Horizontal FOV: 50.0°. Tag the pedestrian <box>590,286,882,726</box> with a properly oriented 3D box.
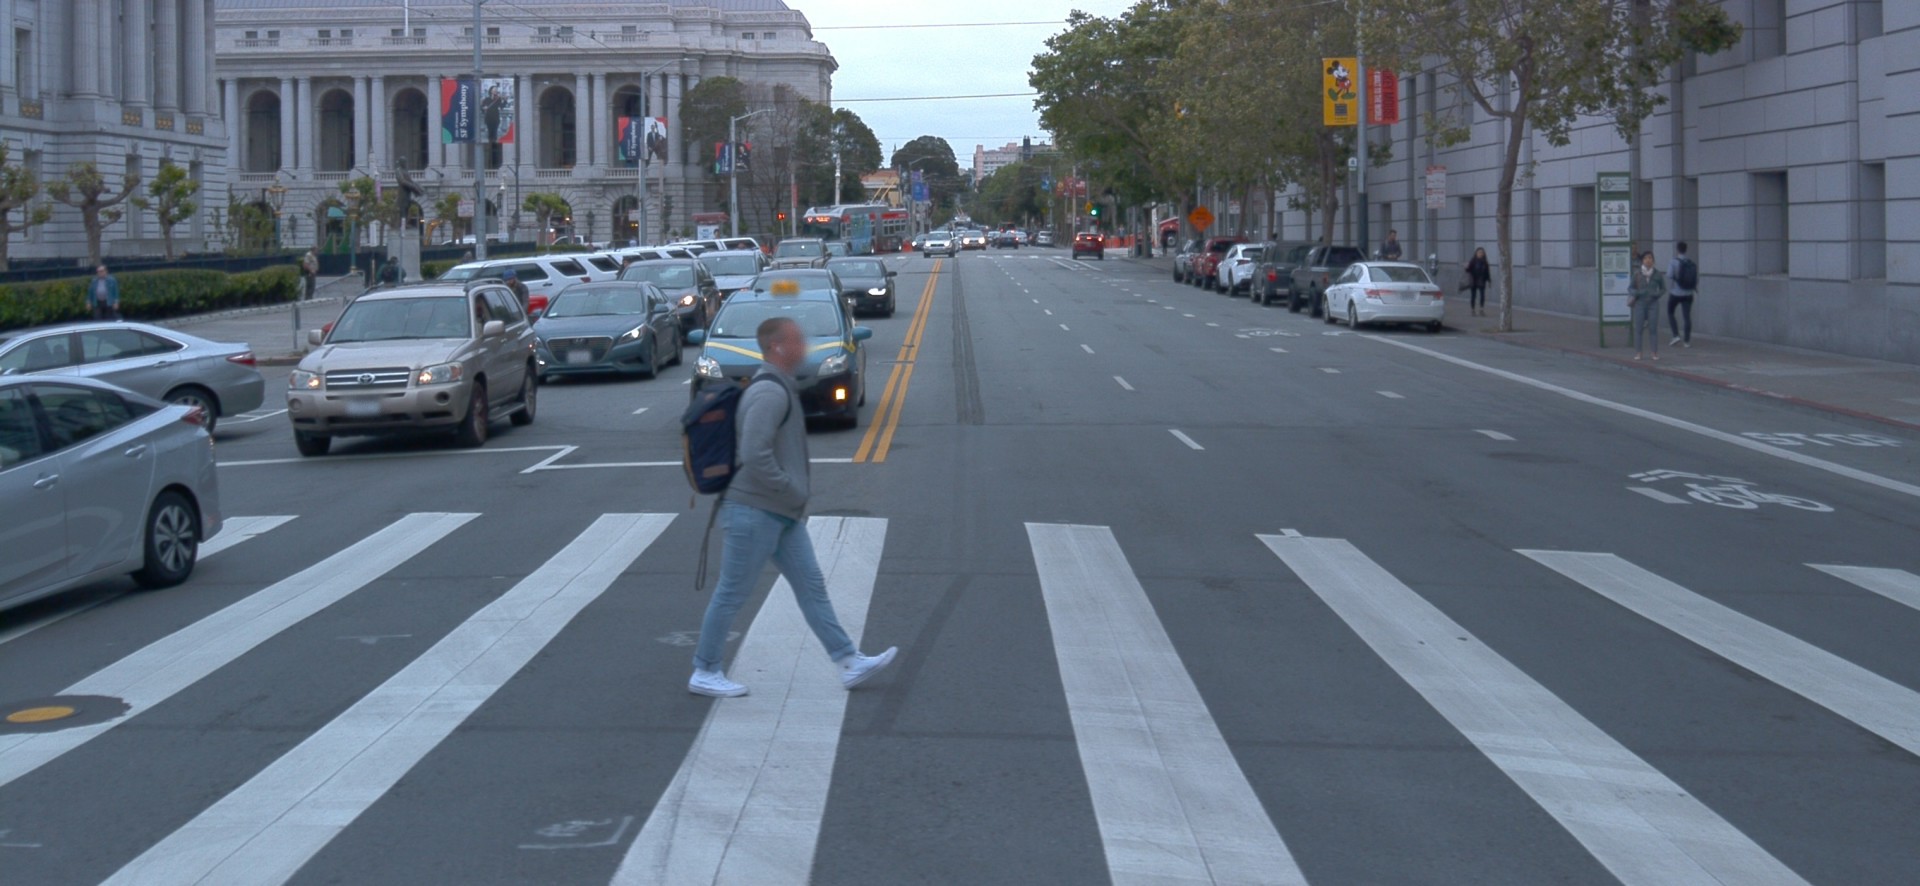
[{"bbox_3d":[-0.979,0.236,9.229,1.153,1.847,0.813,0,2,6],"label":"pedestrian"}]

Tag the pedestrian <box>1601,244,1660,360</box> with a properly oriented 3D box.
[{"bbox_3d":[10.491,-2.219,32.173,0.850,1.788,0.790,1,2,20],"label":"pedestrian"}]

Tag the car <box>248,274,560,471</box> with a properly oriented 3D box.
[{"bbox_3d":[-5.879,-0.882,22.443,2.165,1.792,4.824,0,5,-1],"label":"car"}]

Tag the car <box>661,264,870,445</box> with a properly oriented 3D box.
[{"bbox_3d":[-2.092,-1.102,23.363,2.026,1.779,4.380,0,5,-1],"label":"car"}]

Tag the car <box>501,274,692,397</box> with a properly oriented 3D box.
[{"bbox_3d":[-5.457,-1.723,31.541,2.127,1.619,4.847,0,6,-1],"label":"car"}]

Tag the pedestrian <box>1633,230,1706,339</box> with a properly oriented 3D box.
[{"bbox_3d":[12.032,-2.703,34.911,0.875,1.808,1.129,0,2,3],"label":"pedestrian"}]
